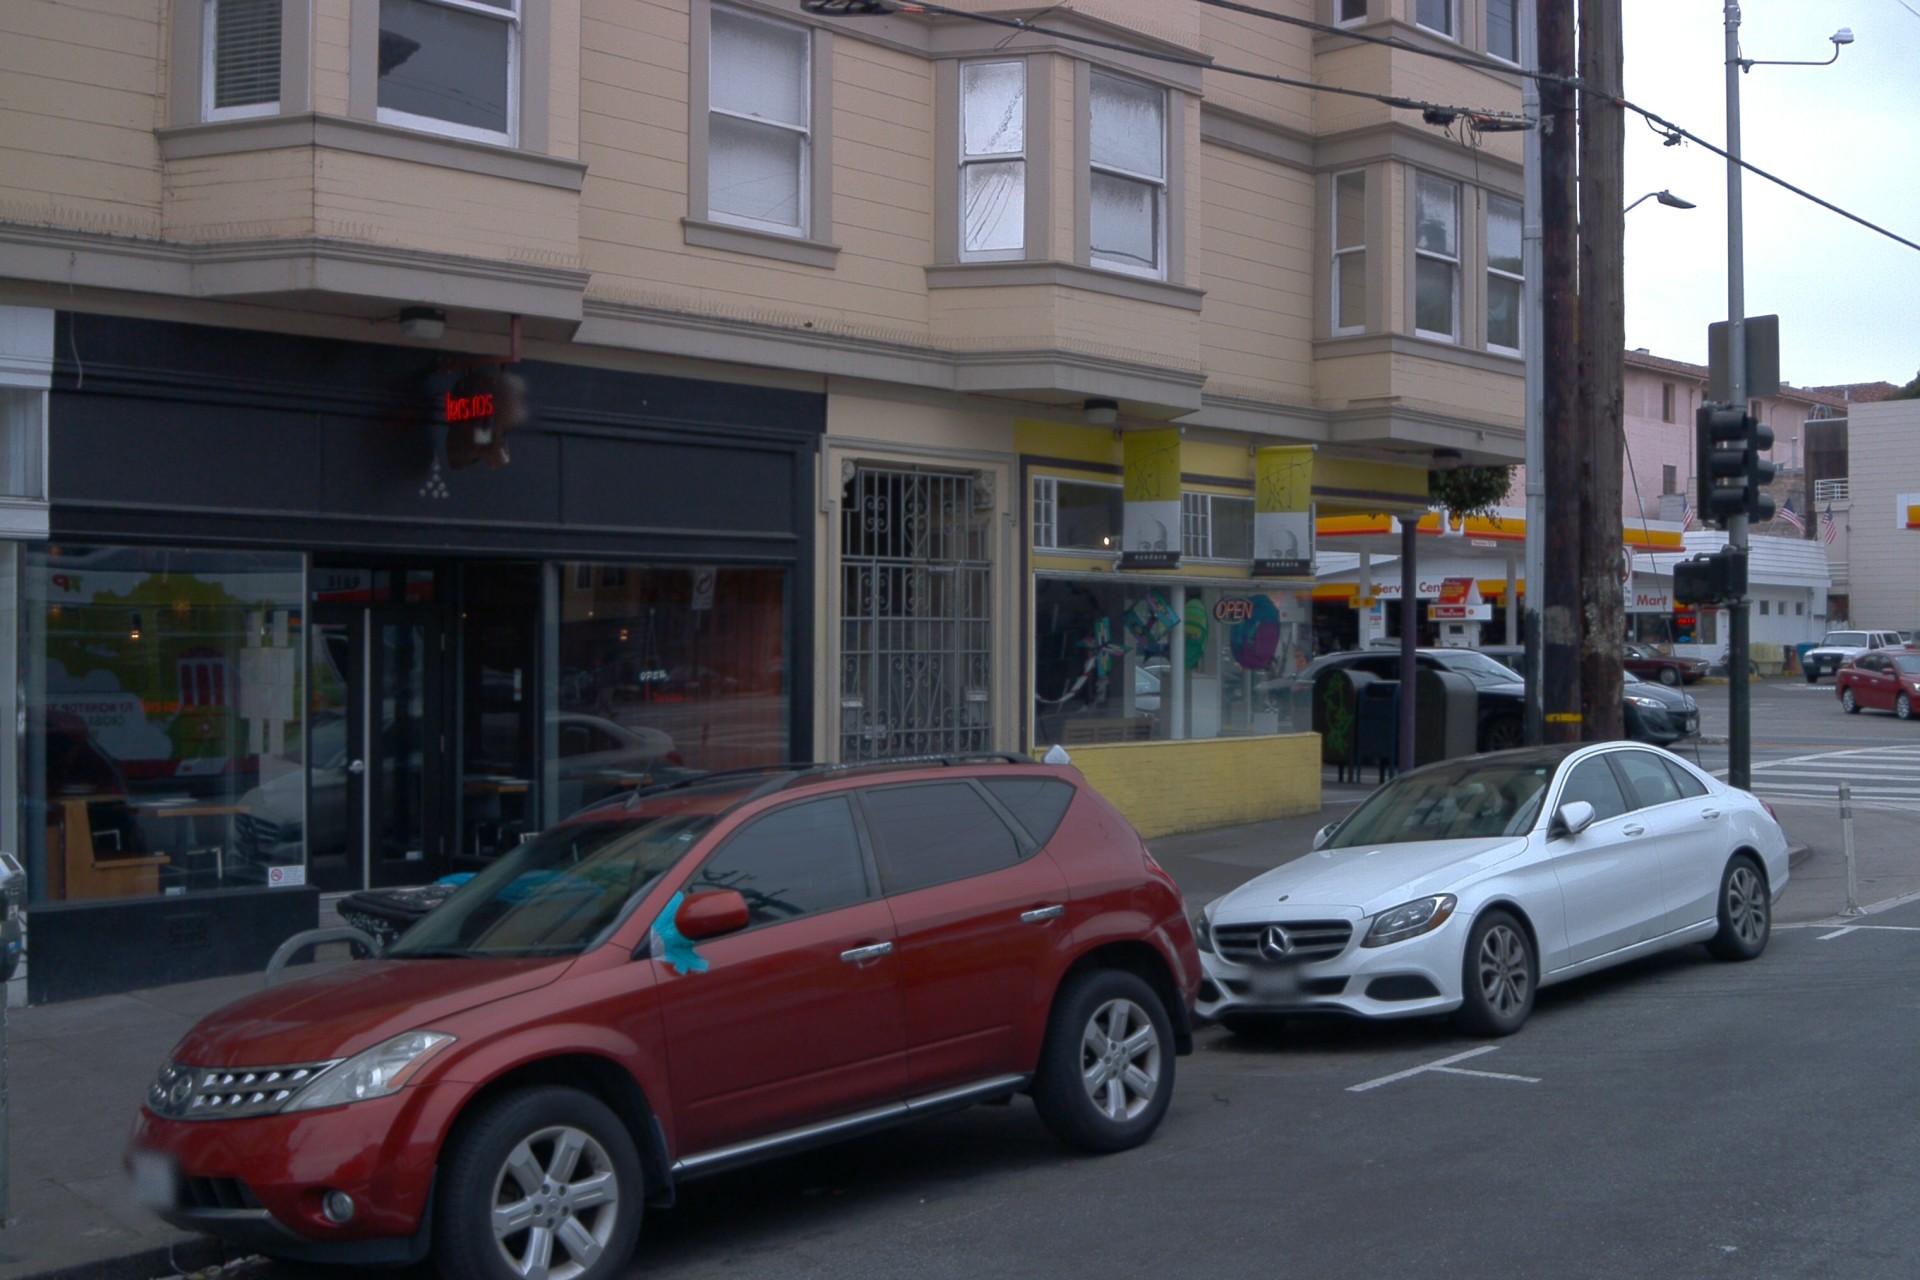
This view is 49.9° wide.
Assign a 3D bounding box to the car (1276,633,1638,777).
[{"bbox_3d":[7.046,0.853,29.606,2.104,1.830,4.647,-1,1,-44],"label":"car"}]

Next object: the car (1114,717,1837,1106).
[{"bbox_3d":[3.208,1.384,12.192,4.697,1.590,1.975,-1,1,-45],"label":"car"}]

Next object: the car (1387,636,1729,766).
[{"bbox_3d":[9.239,0.877,32.165,2.067,1.789,4.688,-1,1,-45],"label":"car"}]
